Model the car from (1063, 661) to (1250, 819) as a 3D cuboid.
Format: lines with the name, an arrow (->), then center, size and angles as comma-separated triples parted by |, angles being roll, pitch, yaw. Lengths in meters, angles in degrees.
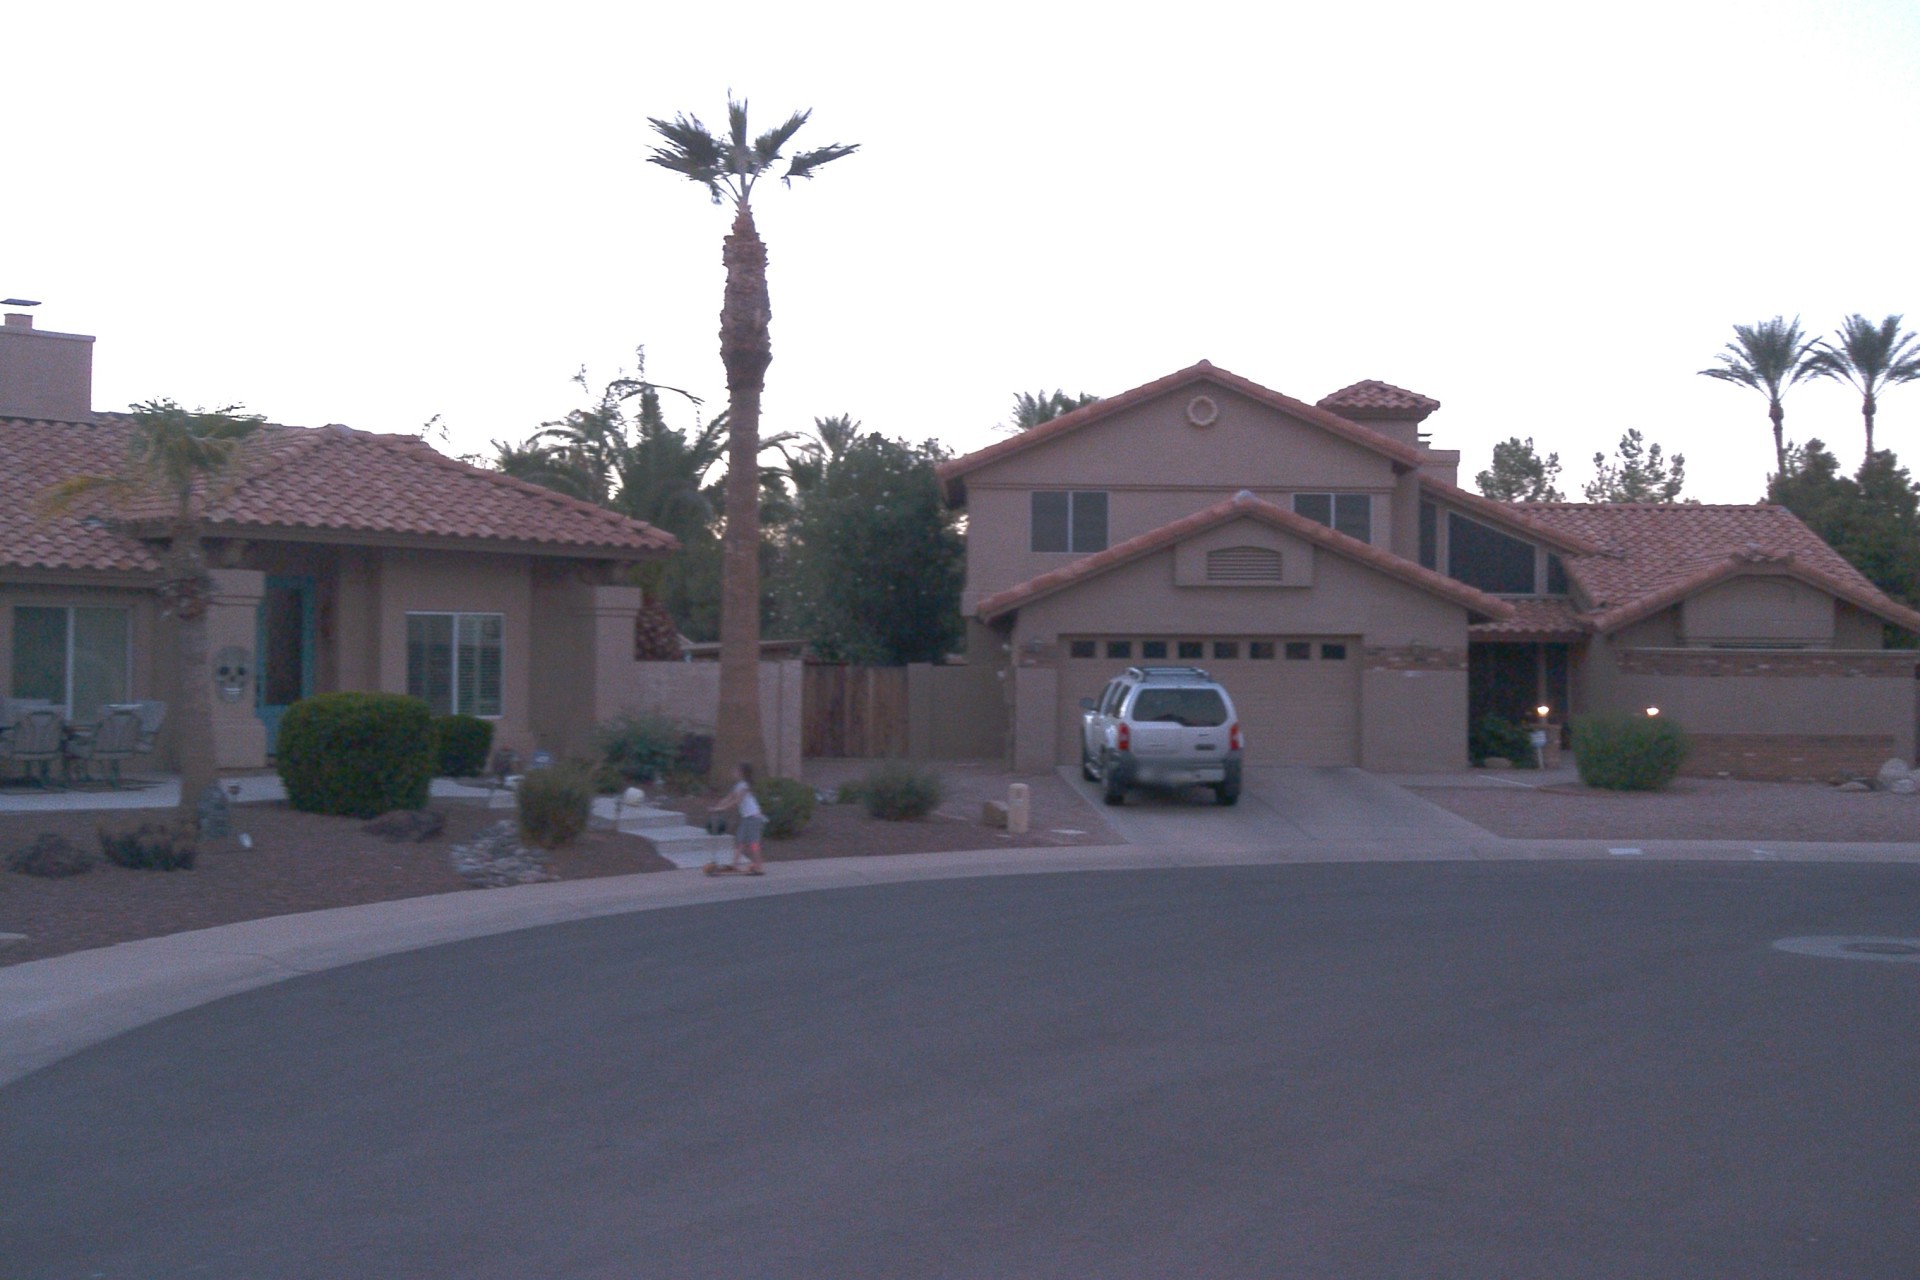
car -> 2.740, 1.354, 29.998 | 2.109, 2.070, 4.678 | 1, -1, -2

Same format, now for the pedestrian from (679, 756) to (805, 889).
pedestrian -> -2.218, 1.835, 21.089 | 1.098, 1.280, 0.645 | 1, -1, -28
